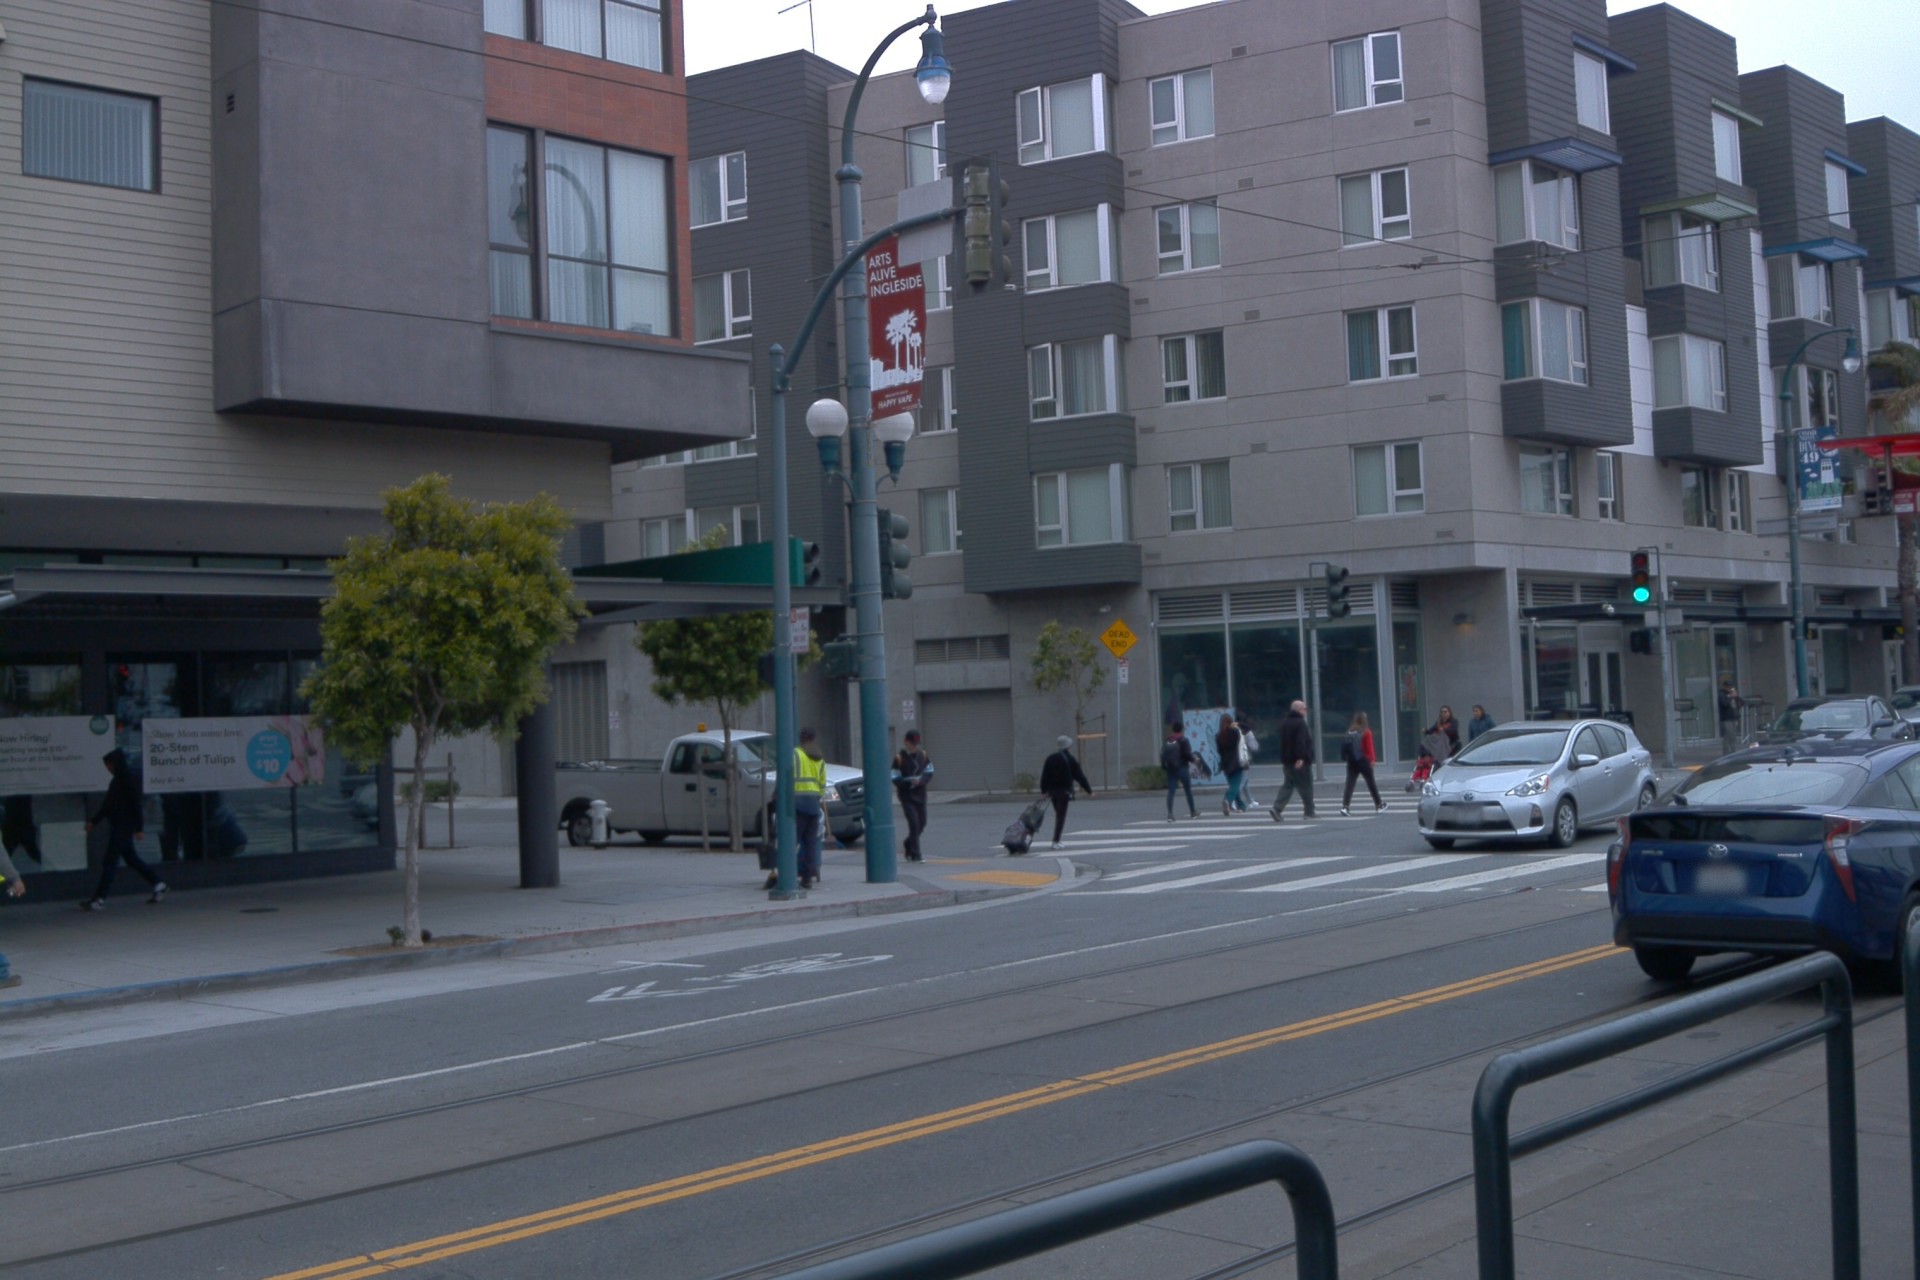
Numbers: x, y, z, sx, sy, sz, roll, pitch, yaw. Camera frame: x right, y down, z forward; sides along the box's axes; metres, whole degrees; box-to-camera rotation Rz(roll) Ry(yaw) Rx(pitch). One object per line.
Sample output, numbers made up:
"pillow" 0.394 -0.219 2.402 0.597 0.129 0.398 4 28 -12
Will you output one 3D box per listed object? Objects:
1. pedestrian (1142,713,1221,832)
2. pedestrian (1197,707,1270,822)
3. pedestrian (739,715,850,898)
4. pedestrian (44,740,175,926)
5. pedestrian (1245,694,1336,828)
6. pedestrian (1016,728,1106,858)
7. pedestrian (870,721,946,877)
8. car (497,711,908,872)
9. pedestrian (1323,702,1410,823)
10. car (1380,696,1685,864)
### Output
"pedestrian" 3.432 2.028 31.922 0.857 1.730 0.990 1 1 32
"pedestrian" 4.358 1.966 32.868 0.777 1.733 0.989 1 1 36
"pedestrian" -1.790 1.770 22.268 0.964 1.870 0.727 -1 1 -32
"pedestrian" -9.540 2.134 23.162 0.839 1.940 1.079 1 1 38
"pedestrian" 4.933 1.788 30.810 0.990 1.900 0.907 -1 1 -34
"pedestrian" 1.400 2.099 28.643 0.805 1.690 0.986 1 1 44
"pedestrian" -0.662 1.996 26.169 0.721 1.872 0.823 0 1 -22
"car" -4.020 2.242 31.930 6.039 2.050 2.348 1 1 28
"pedestrian" 6.140 1.834 31.166 0.983 1.730 0.885 -1 1 -45
"car" 6.937 1.593 24.775 2.084 1.640 4.014 1 1 39
